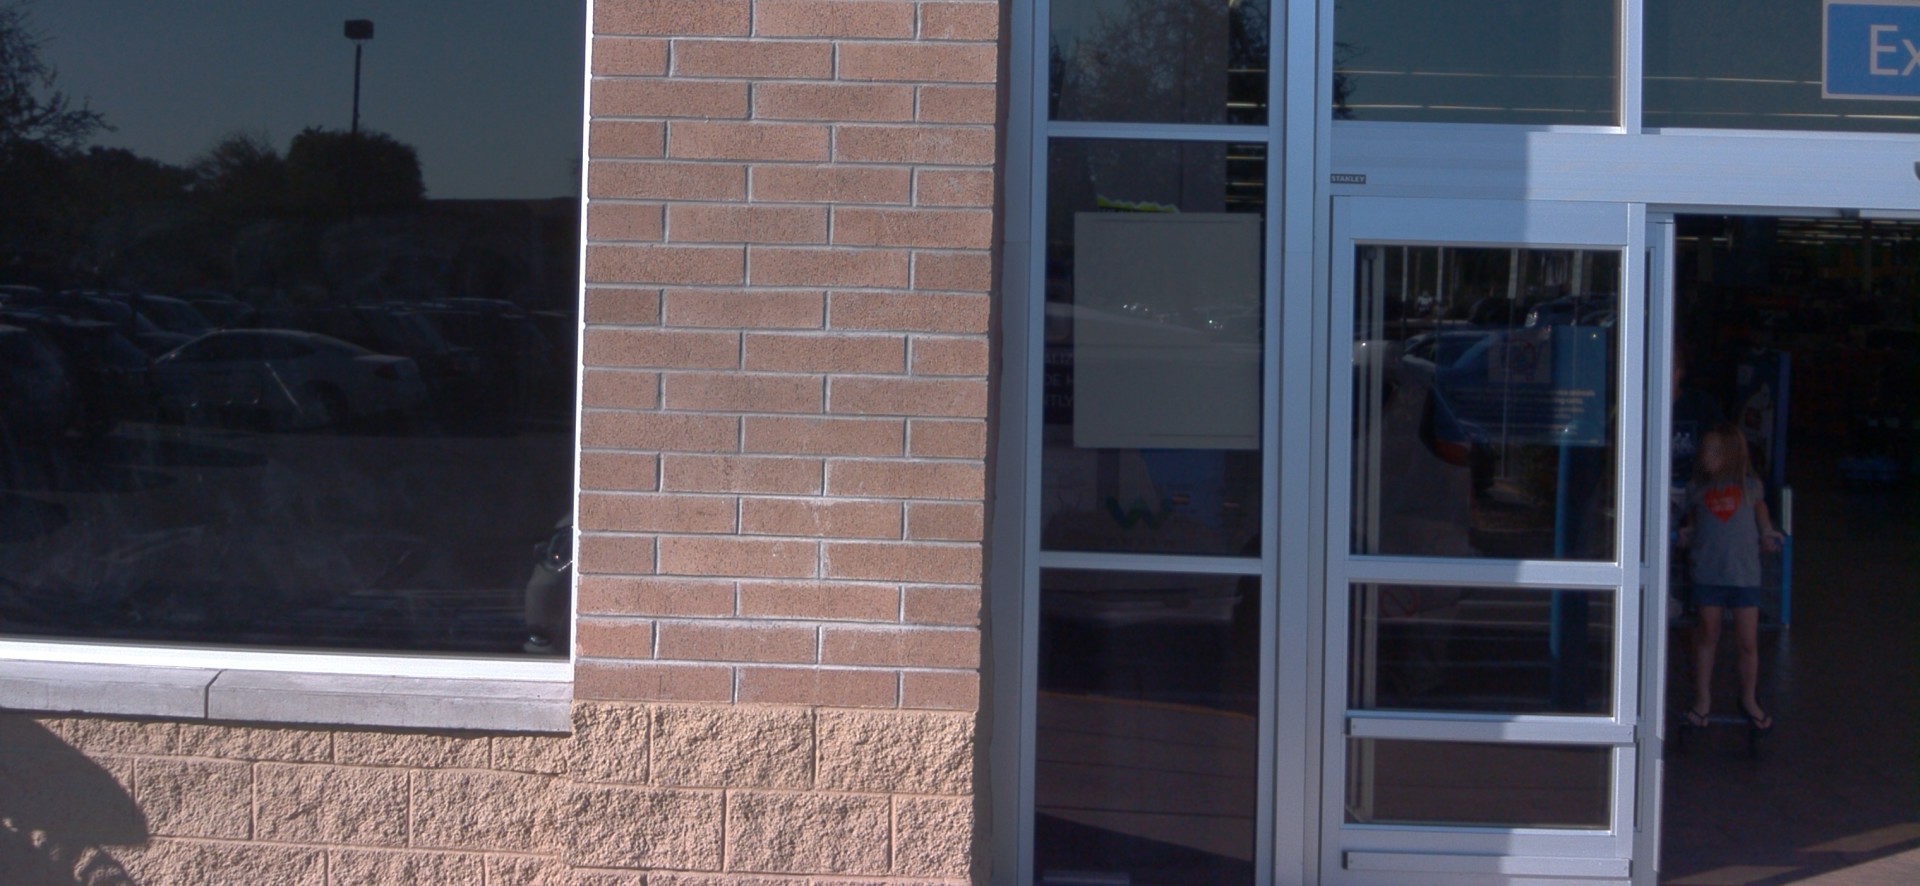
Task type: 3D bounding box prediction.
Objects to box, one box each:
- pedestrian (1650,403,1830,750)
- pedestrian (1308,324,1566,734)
[{"bbox_3d":[2.996,0.489,8.019,0.536,1.240,0.545,1,1,8],"label":"pedestrian"},{"bbox_3d":[2.113,0.331,9.259,0.797,1.690,0.782,0,1,-24],"label":"pedestrian"}]
